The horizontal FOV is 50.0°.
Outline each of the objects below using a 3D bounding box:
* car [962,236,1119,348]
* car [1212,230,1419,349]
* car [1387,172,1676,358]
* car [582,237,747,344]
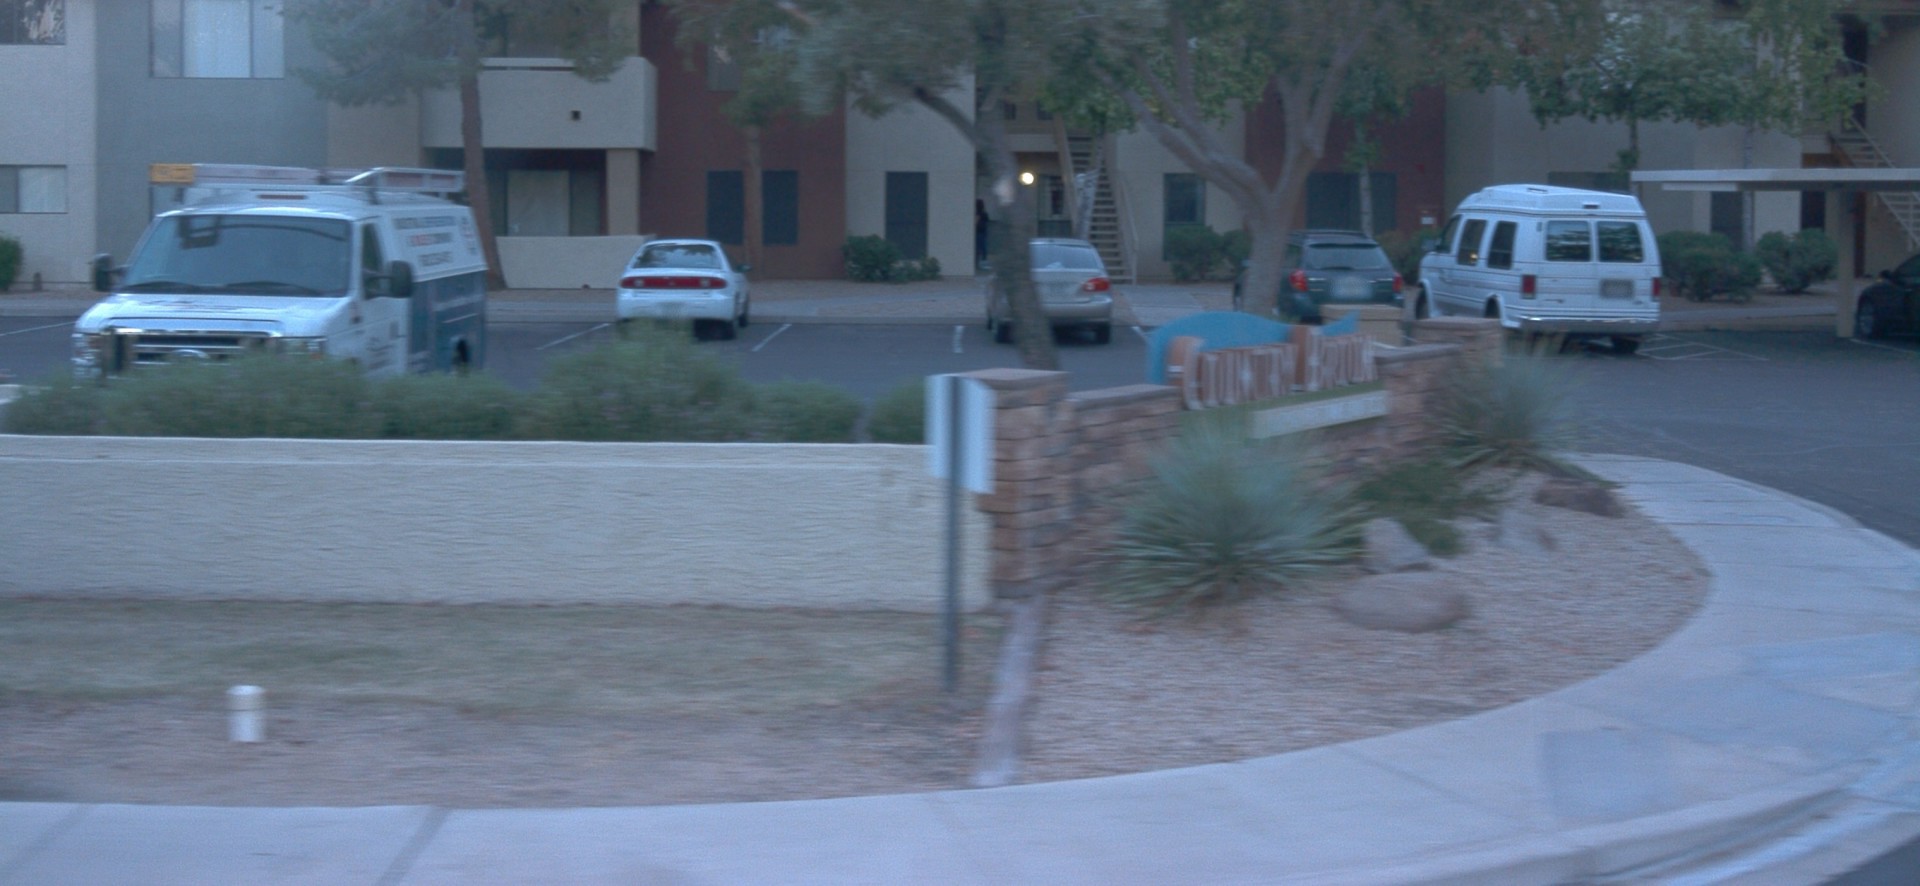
[{"bbox_3d":[1.100,-2.286,30.341,2.039,1.493,4.686,0,5,-1],"label":"car"},{"bbox_3d":[5.142,-2.336,30.444,2.053,1.613,4.621,0,5,-3],"label":"car"},{"bbox_3d":[8.105,-2.625,29.867,2.459,2.430,5.399,0,5,-3],"label":"car"},{"bbox_3d":[-4.262,-2.305,30.337,1.976,1.434,4.448,0,5,-3],"label":"car"}]
